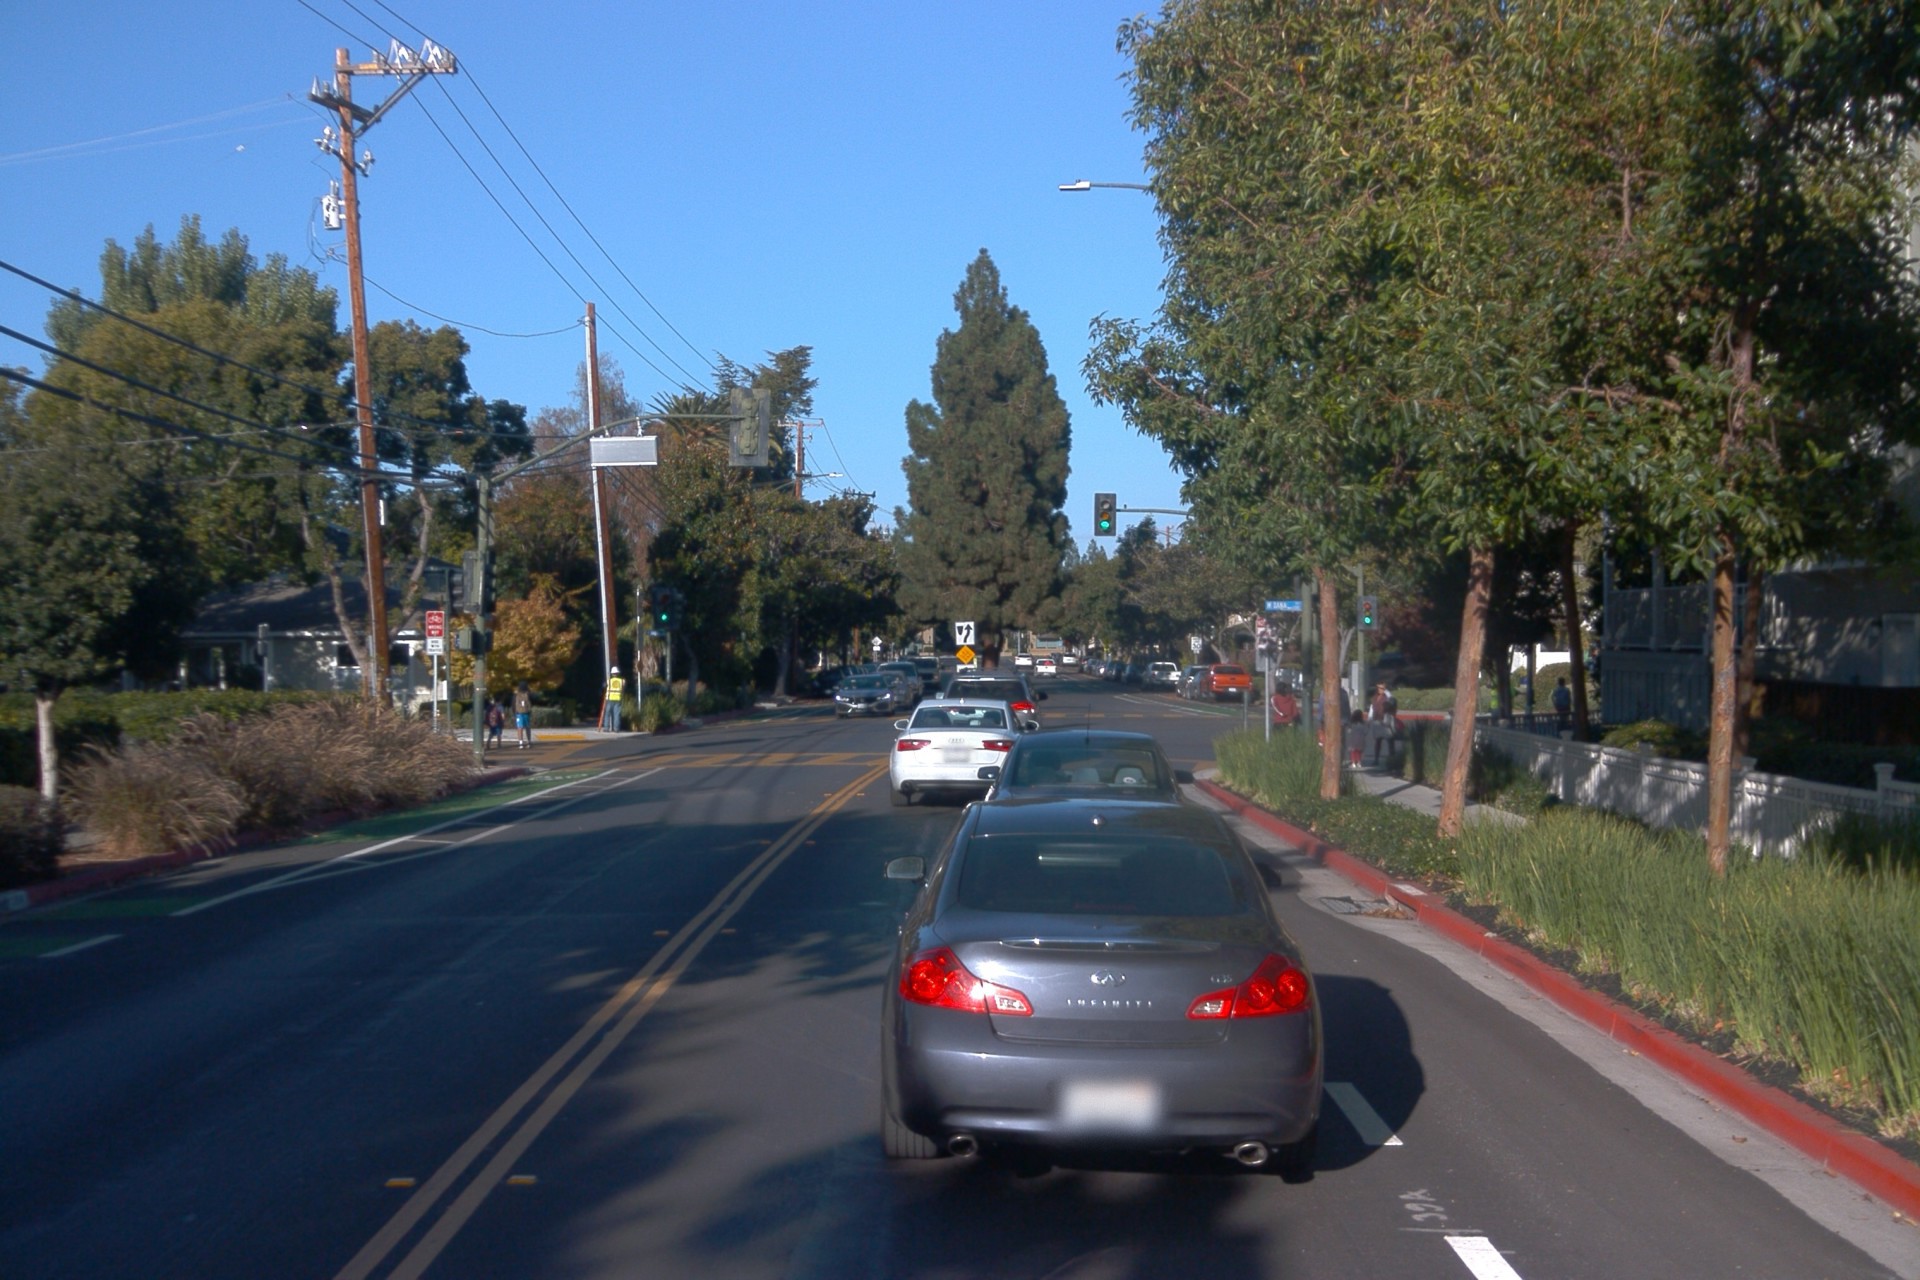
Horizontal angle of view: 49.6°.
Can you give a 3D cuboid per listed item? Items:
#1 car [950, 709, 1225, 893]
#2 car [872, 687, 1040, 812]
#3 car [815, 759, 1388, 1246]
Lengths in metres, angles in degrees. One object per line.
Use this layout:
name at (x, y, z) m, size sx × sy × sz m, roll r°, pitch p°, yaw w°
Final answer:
car at (1.045, 1.261, 17.479) m, size 2.028 × 1.210 × 4.035 m, roll 1°, pitch 0°, yaw 3°
car at (0.026, 1.468, 29.118) m, size 2.122 × 1.500 × 4.397 m, roll 1°, pitch 0°, yaw 3°
car at (0.601, 1.426, 9.681) m, size 2.033 × 1.460 × 4.435 m, roll 1°, pitch 0°, yaw 3°
